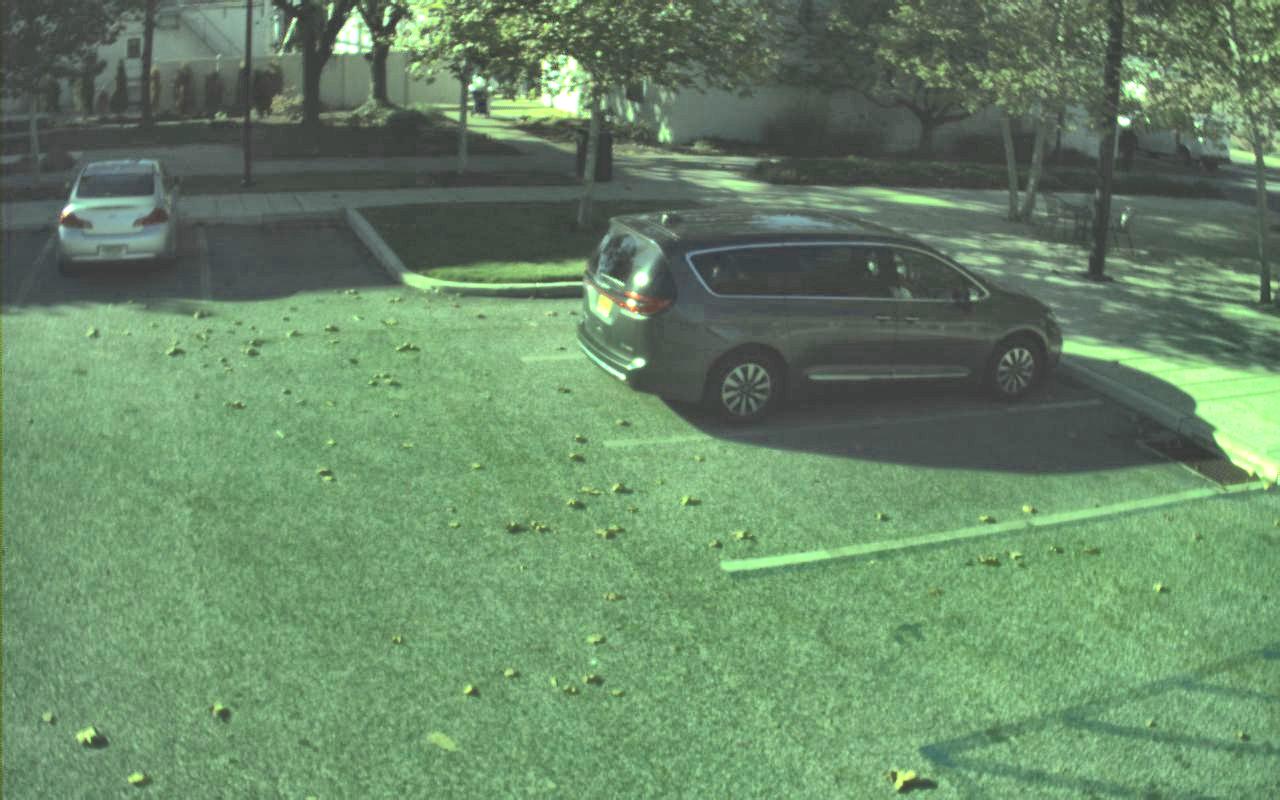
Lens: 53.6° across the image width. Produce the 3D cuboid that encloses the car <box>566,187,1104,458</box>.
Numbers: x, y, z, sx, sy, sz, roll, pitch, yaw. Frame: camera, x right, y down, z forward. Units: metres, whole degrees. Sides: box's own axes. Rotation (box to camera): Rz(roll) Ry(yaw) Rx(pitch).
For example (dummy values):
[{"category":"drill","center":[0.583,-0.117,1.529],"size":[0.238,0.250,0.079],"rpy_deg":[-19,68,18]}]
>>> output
[{"category":"car","center":[1.990,-0.954,12.215],"size":[4.967,1.811,2.070],"rpy_deg":[-7,17,-20]}]

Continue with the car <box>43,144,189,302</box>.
[{"category":"car","center":[-7.601,-2.675,16.926],"size":[1.911,1.556,4.414],"rpy_deg":[-7,18,-21]}]
